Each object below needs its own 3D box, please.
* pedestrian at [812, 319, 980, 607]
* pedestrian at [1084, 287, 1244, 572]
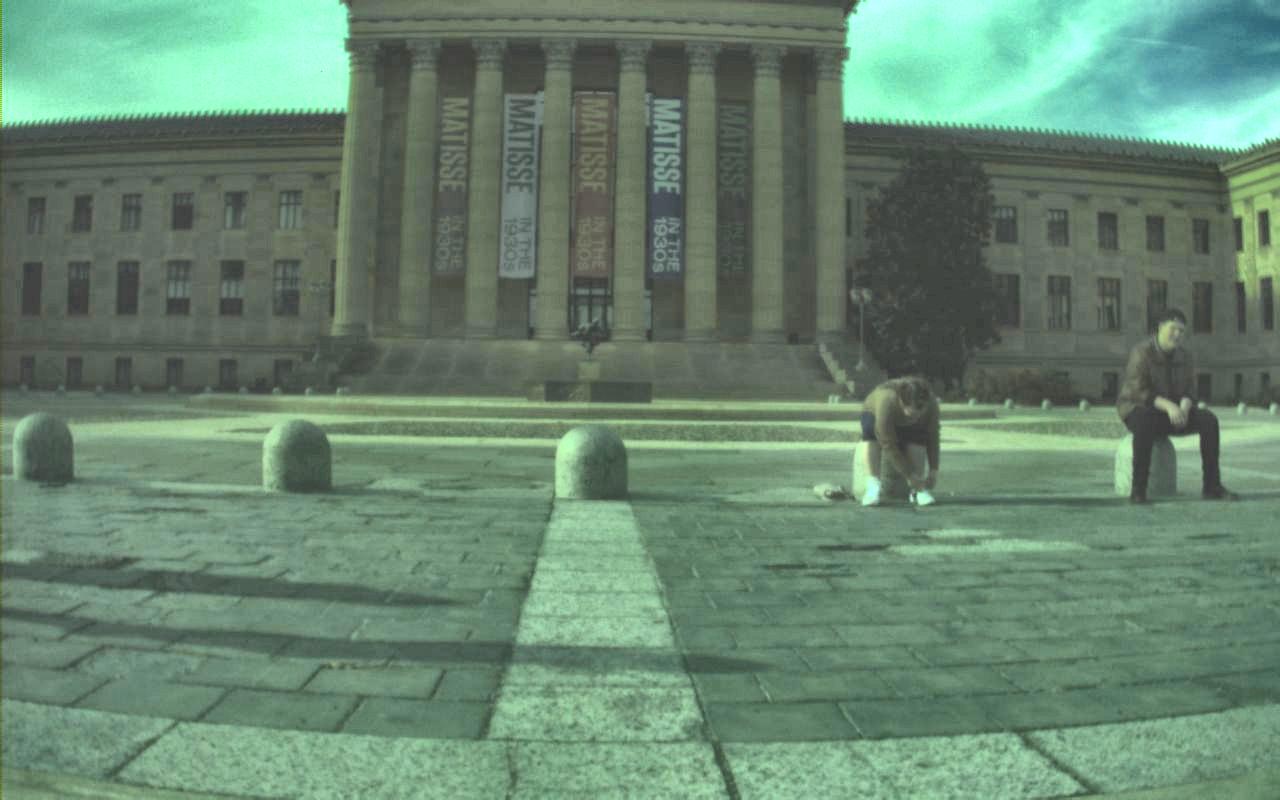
[{"bbox_3d":[1.572,0.366,7.688,0.814,1.684,0.828,0,0,-7],"label":"pedestrian"},{"bbox_3d":[3.506,0.196,7.841,0.841,1.799,0.841,0,0,0],"label":"pedestrian"}]
